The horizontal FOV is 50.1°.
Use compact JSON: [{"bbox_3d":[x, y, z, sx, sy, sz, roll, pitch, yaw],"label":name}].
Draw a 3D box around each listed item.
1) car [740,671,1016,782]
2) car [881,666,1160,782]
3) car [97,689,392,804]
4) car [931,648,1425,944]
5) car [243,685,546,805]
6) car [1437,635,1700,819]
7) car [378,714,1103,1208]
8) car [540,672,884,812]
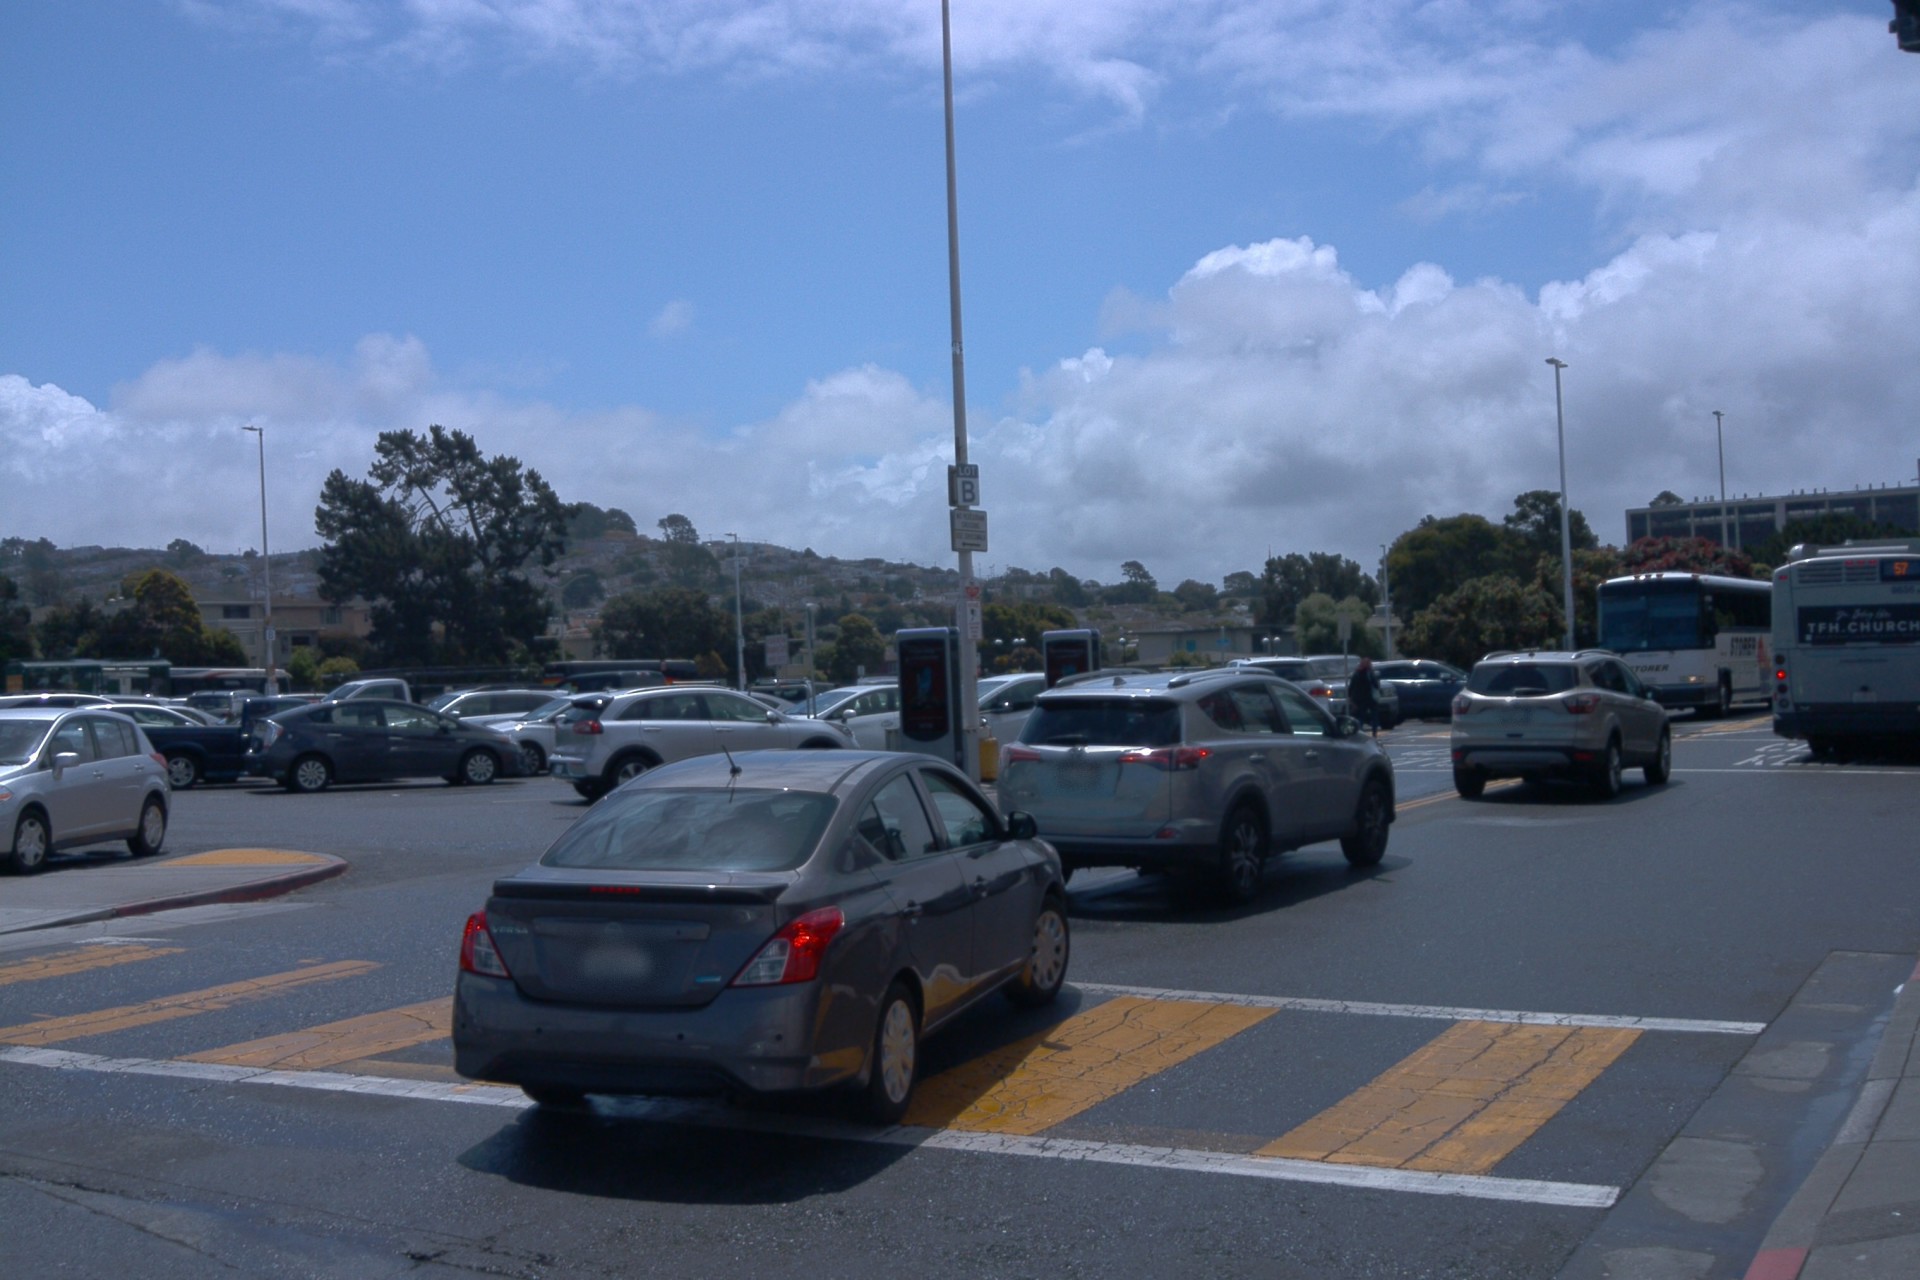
[{"bbox_3d":[-1.394,1.442,35.411,4.322,1.700,1.978,-1,0,-32],"label":"car"},{"bbox_3d":[1.008,1.324,33.676,4.189,1.700,1.897,0,0,-31],"label":"car"},{"bbox_3d":[-12.137,1.754,34.898,4.425,1.710,2.062,0,0,-29],"label":"car"},{"bbox_3d":[1.870,1.045,16.125,2.141,1.900,4.489,0,1,31],"label":"car"},{"bbox_3d":[-9.263,1.667,33.704,4.426,1.710,2.062,0,0,-28],"label":"car"},{"bbox_3d":[7.400,0.940,24.720,2.022,1.960,4.300,0,1,31],"label":"car"},{"bbox_3d":[-0.735,1.247,9.752,1.946,1.580,4.216,0,1,17],"label":"car"},{"bbox_3d":[-3.434,1.348,28.544,4.305,1.710,1.958,0,0,-29],"label":"car"}]
